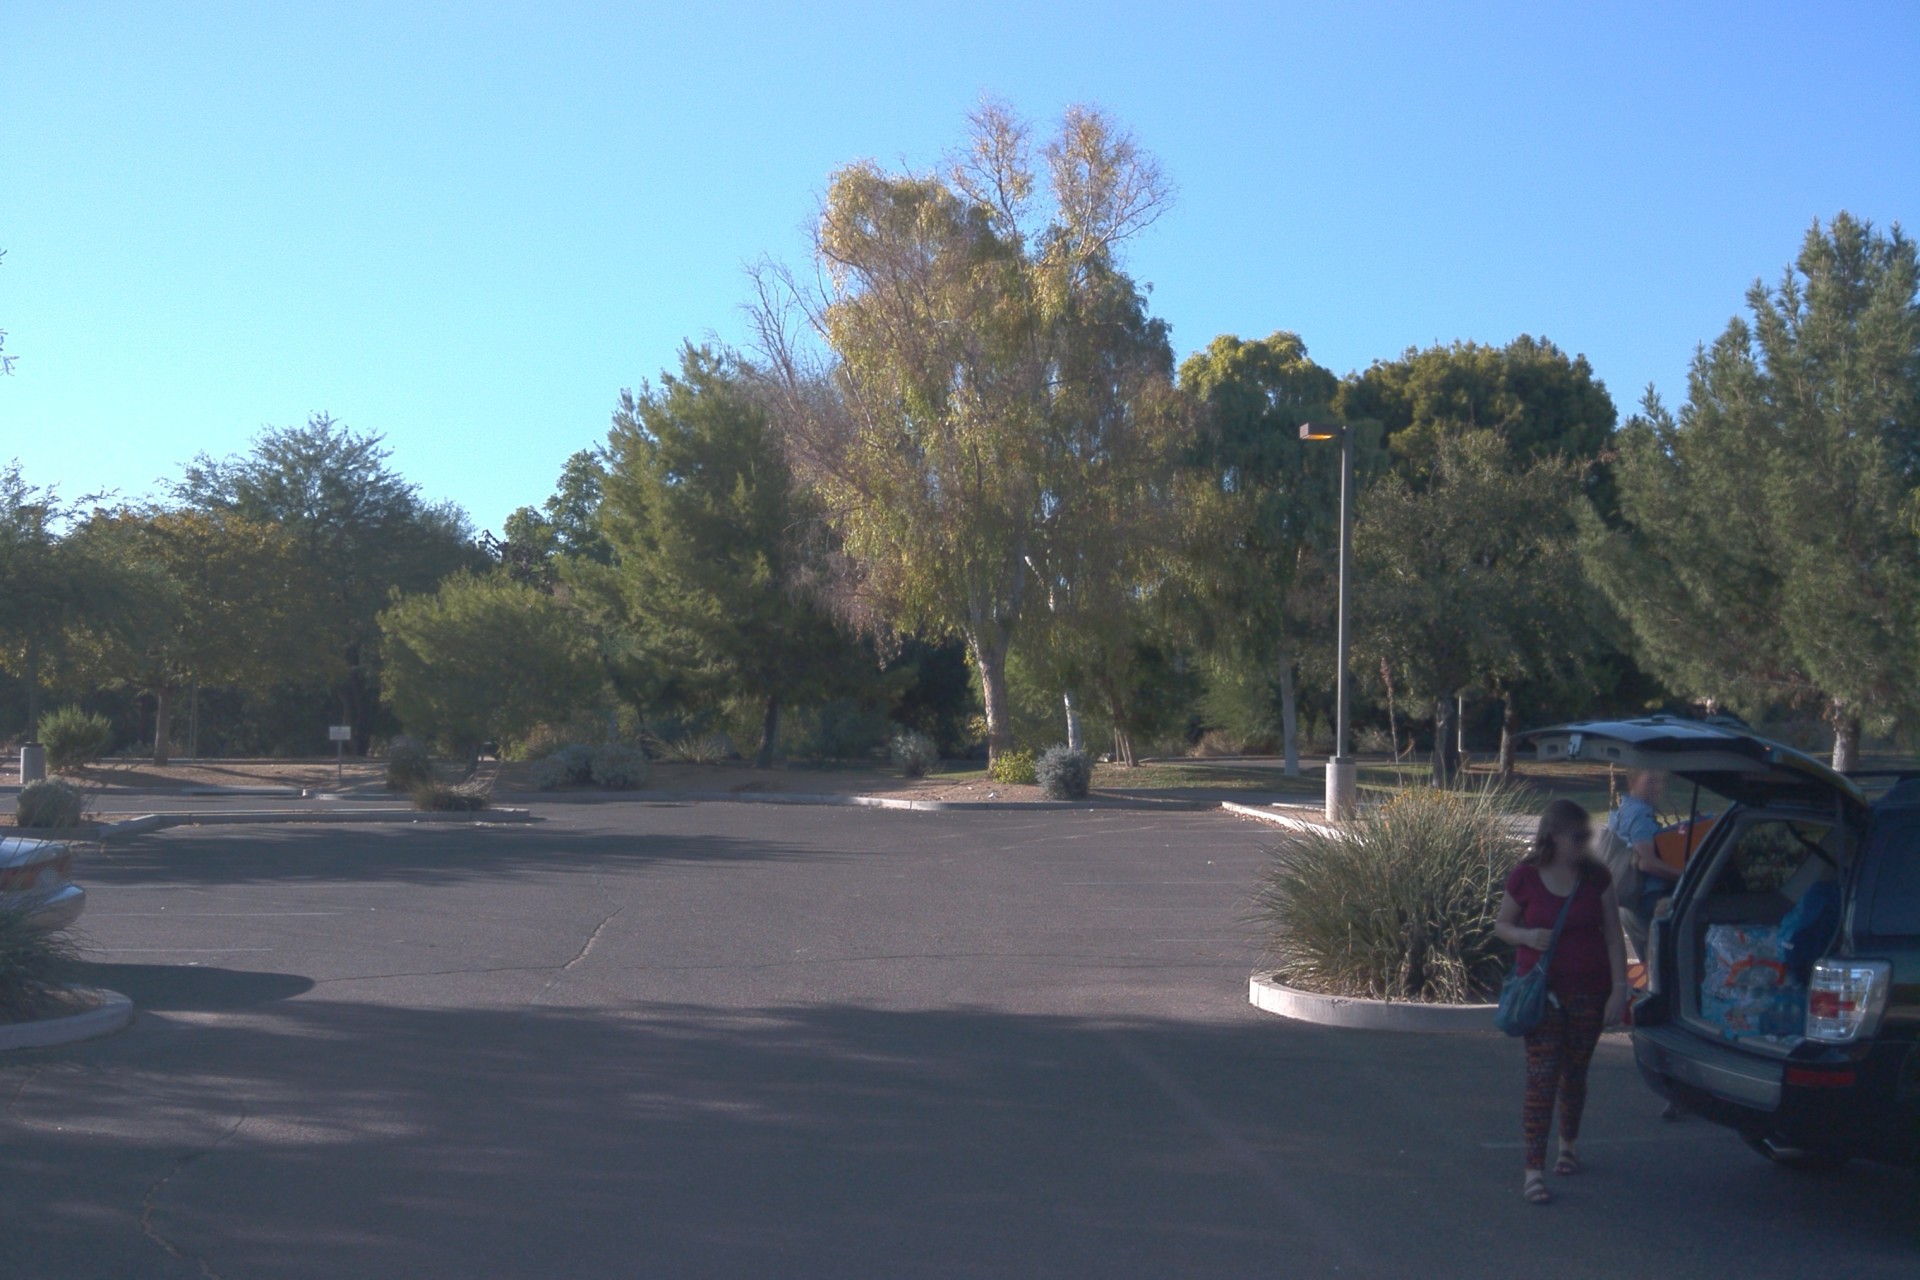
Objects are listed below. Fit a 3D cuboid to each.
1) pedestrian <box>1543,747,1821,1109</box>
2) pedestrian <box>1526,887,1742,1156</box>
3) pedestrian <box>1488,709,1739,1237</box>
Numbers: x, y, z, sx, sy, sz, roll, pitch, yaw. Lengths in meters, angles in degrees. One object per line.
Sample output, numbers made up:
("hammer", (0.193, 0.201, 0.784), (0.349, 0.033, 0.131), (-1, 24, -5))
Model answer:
("pedestrian", (3.851, 1.489, 11.157), (0.999, 1.790, 1.001), (0, -1, -19))
("pedestrian", (3.245, 1.803, 10.009), (0.740, 1.120, 0.740), (-1, -1, 44))
("pedestrian", (2.748, 1.320, 8.708), (0.892, 2.040, 0.884), (0, -1, 25))
